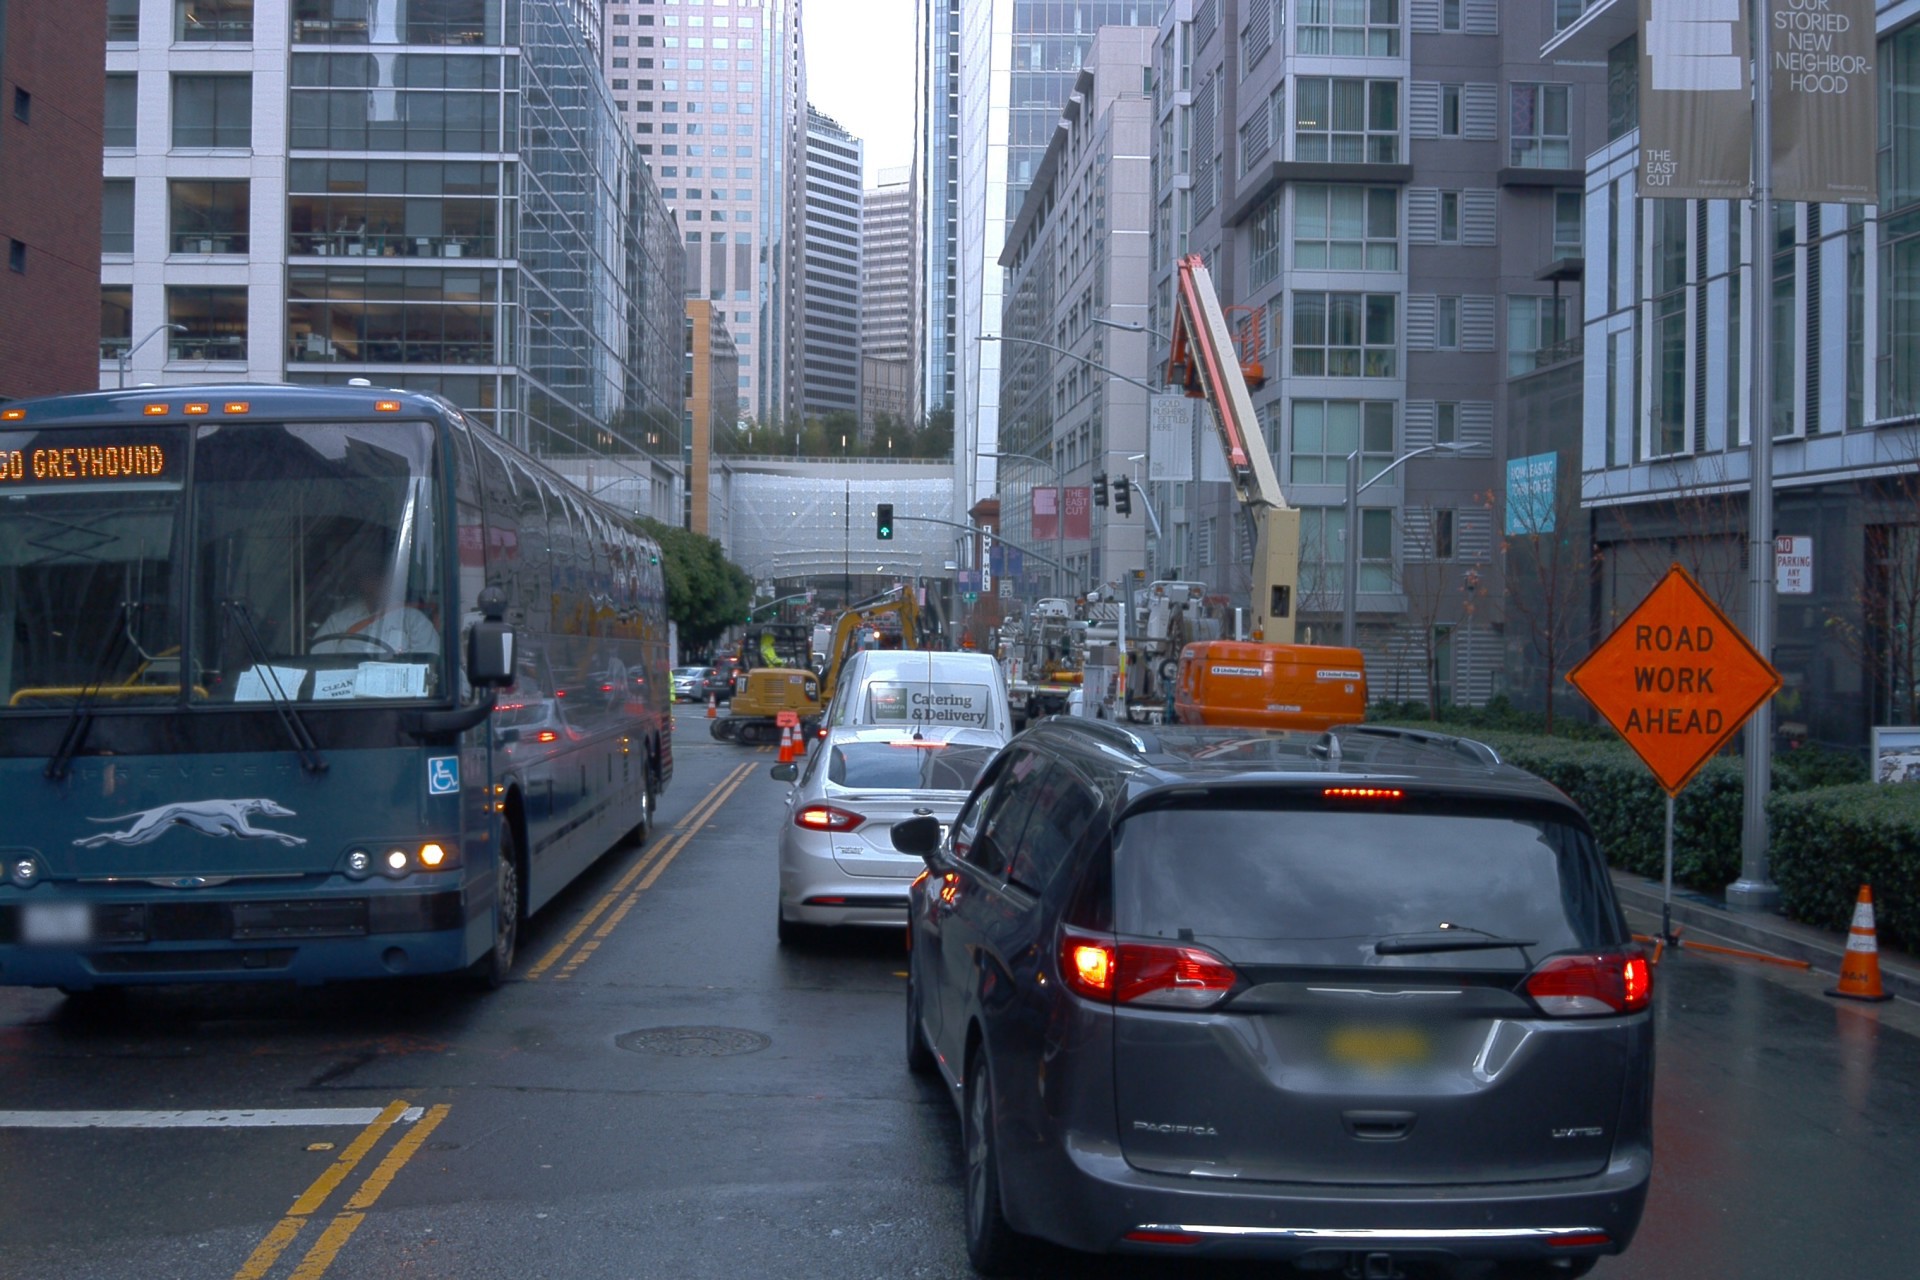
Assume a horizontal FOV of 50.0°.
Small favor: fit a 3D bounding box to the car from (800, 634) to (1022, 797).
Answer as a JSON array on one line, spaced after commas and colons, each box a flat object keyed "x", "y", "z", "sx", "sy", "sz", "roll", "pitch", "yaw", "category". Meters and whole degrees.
[{"x": -0.577, "y": 0.696, "z": 20.711, "sx": 1.860, "sy": 1.470, "sz": 3.431, "roll": 1, "pitch": 1, "yaw": -7, "category": "car"}]

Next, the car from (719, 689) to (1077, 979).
[{"x": -0.443, "y": 1.241, "z": 14.999, "sx": 2.164, "sy": 1.580, "sz": 4.901, "roll": 1, "pitch": 1, "yaw": -2, "category": "car"}]

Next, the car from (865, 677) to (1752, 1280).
[{"x": 0.827, "y": 1.092, "z": 7.797, "sx": 2.058, "sy": 1.750, "sz": 4.787, "roll": 1, "pitch": 1, "yaw": -6, "category": "car"}]
